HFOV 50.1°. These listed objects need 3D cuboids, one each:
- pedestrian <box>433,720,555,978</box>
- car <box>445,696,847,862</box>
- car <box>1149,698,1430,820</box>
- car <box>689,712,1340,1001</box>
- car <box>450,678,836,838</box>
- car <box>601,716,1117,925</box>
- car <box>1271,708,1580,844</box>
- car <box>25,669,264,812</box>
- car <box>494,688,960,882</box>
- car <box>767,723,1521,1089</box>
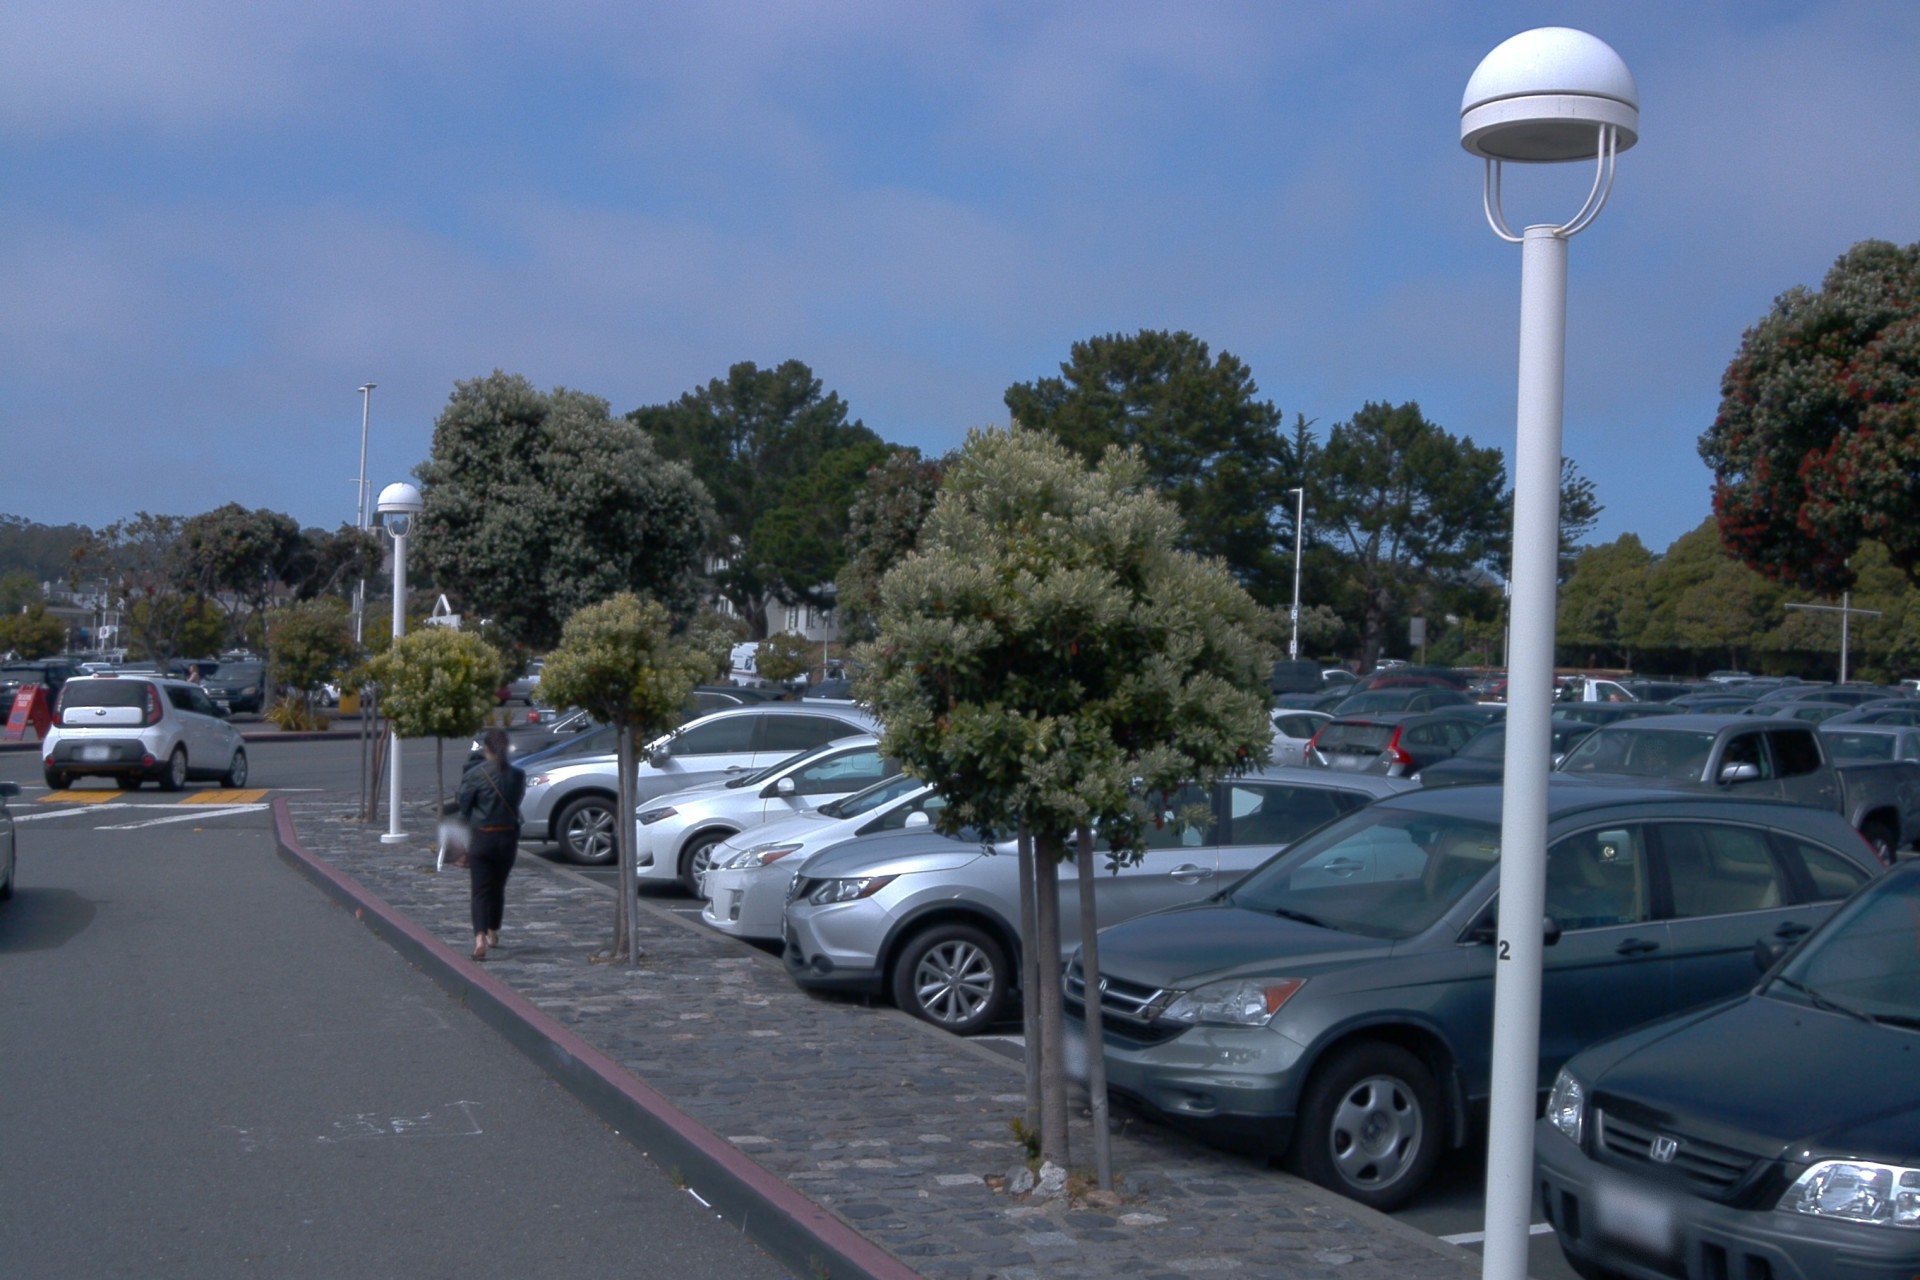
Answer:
[{"bbox_3d":[-3.040,1.331,13.380,0.627,1.570,0.742,0,0,-25],"label":"pedestrian"},{"bbox_3d":[-3.579,1.577,23.963,4.441,1.740,1.964,0,0,-4],"label":"car"},{"bbox_3d":[4.991,1.723,30.879,4.039,1.550,2.031,-1,1,-41],"label":"car"},{"bbox_3d":[0.326,1.549,15.676,4.597,1.860,2.071,0,0,-11],"label":"car"},{"bbox_3d":[-4.082,1.511,27.028,4.832,1.930,2.000,0,0,-4],"label":"car"},{"bbox_3d":[-0.951,1.600,18.925,4.482,1.670,2.052,0,0,-5],"label":"car"},{"bbox_3d":[6.535,1.815,28.651,4.302,1.550,2.126,-1,1,-42],"label":"car"},{"bbox_3d":[-11.468,1.358,29.222,1.870,1.780,4.045,0,0,-1],"label":"car"},{"bbox_3d":[-2.375,1.467,21.499,4.616,1.830,2.013,0,0,-3],"label":"car"},{"bbox_3d":[1.026,1.543,12.862,4.292,1.900,2.083,0,0,-9],"label":"car"}]
